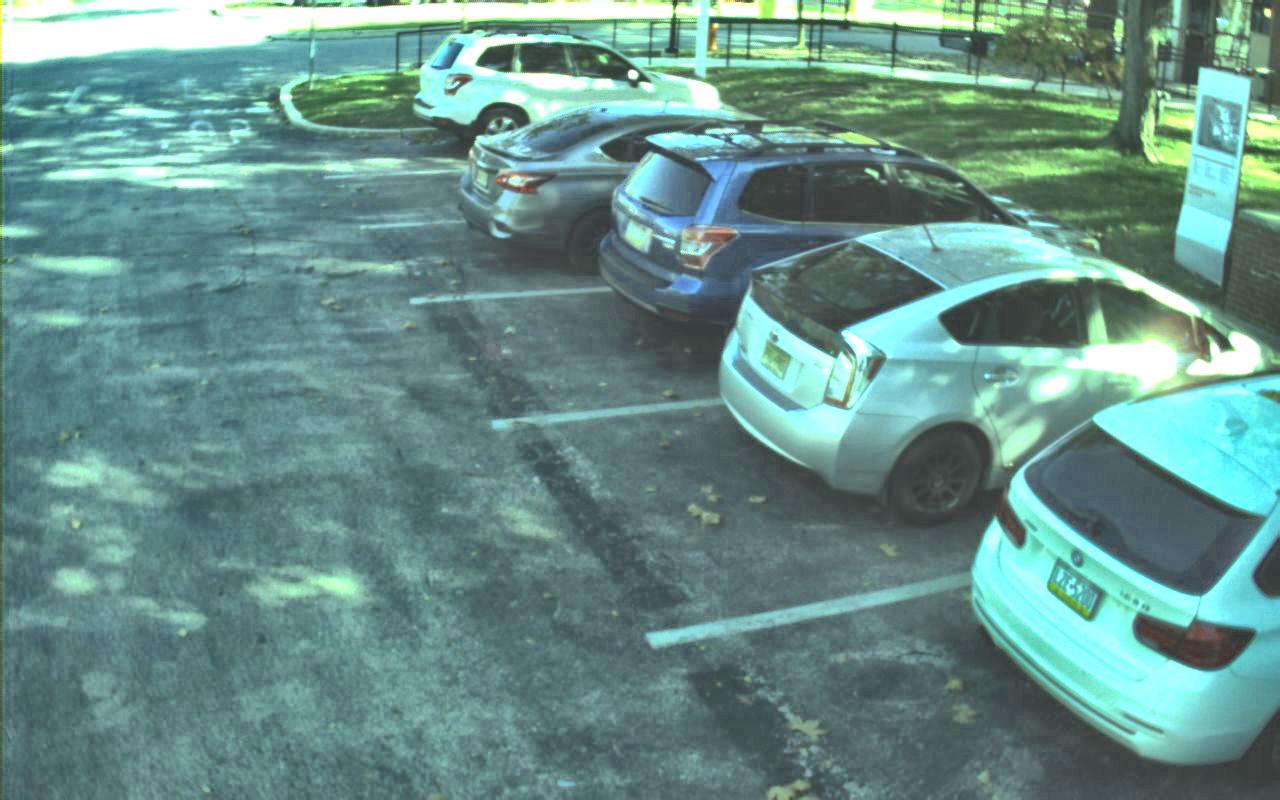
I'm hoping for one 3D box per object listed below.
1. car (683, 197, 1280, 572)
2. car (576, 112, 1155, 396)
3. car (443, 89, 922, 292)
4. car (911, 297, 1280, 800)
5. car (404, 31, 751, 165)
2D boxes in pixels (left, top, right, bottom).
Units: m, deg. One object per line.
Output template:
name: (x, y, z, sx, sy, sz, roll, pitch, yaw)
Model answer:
car: (2.646, -0.352, 8.006, 4.352, 1.566, 1.907, -7, 17, -20)
car: (1.986, -1.422, 10.270, 4.582, 1.731, 1.996, -8, 18, -22)
car: (0.450, -2.242, 12.540, 4.444, 1.563, 1.938, -8, 18, -22)
car: (3.694, 0.625, 5.626, 4.383, 1.572, 1.933, -8, 17, -21)
car: (-0.927, -4.471, 17.944, 4.669, 1.672, 1.991, -8, 18, -22)
